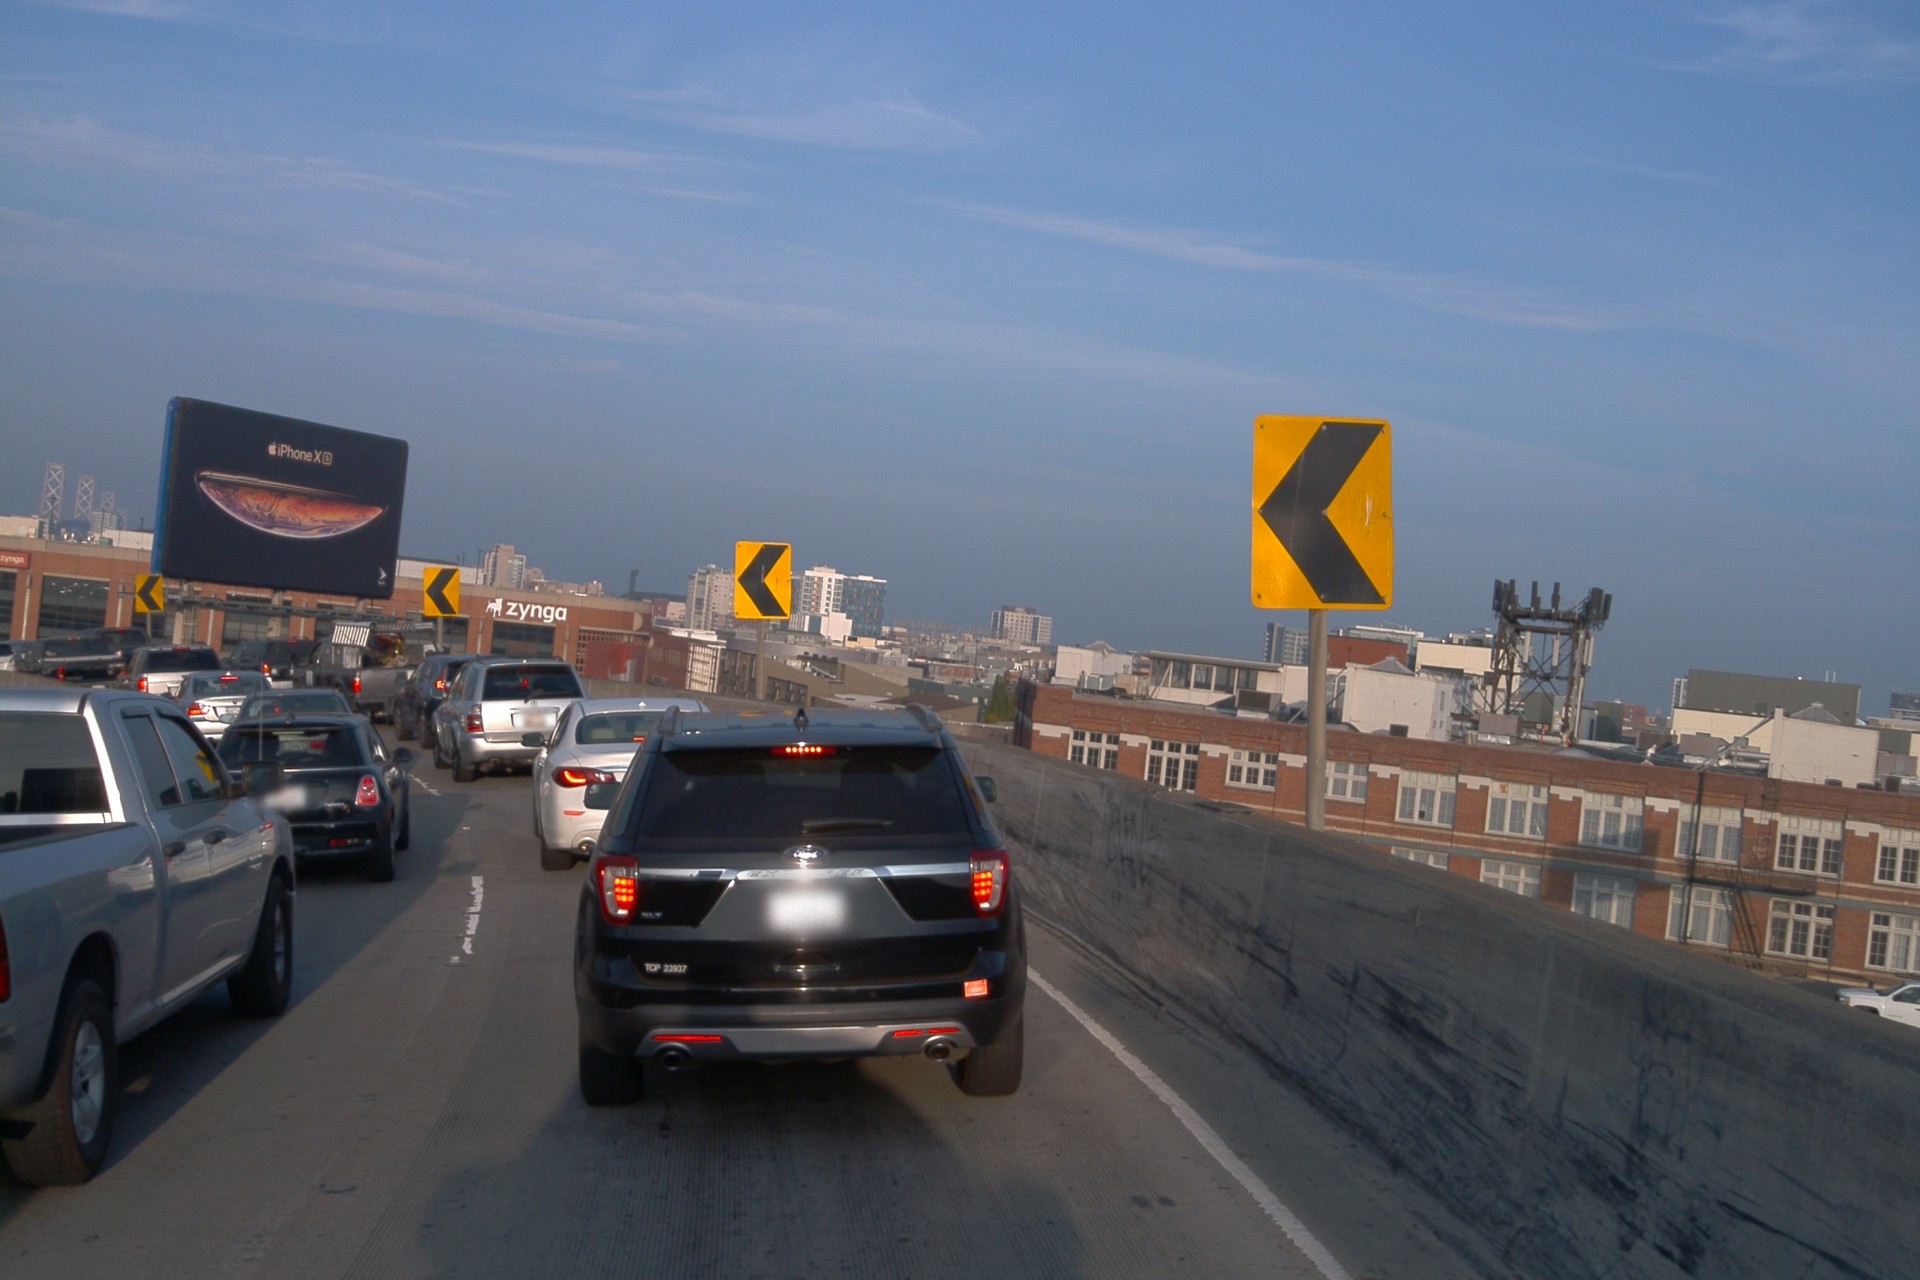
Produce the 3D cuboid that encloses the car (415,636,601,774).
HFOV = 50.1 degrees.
[{"bbox_3d":[-6.583,0.859,29.553,1.992,1.820,4.394,0,0,-21],"label":"car"}]

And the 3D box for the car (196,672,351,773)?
[{"bbox_3d":[-9.125,1.053,27.397,1.825,1.160,3.837,0,0,-18],"label":"car"}]

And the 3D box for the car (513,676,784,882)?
[{"bbox_3d":[-3.074,1.194,19.416,2.143,1.590,4.510,0,0,-14],"label":"car"}]

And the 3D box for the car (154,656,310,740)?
[{"bbox_3d":[-12.832,0.967,36.000,2.005,1.310,4.887,0,0,-26],"label":"car"}]

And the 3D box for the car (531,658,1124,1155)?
[{"bbox_3d":[-0.827,1.052,10.500,2.327,1.850,4.877,0,0,-8],"label":"car"}]

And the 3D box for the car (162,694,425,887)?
[{"bbox_3d":[-5.916,1.259,18.649,1.934,1.411,4.084,0,0,-13],"label":"car"}]
